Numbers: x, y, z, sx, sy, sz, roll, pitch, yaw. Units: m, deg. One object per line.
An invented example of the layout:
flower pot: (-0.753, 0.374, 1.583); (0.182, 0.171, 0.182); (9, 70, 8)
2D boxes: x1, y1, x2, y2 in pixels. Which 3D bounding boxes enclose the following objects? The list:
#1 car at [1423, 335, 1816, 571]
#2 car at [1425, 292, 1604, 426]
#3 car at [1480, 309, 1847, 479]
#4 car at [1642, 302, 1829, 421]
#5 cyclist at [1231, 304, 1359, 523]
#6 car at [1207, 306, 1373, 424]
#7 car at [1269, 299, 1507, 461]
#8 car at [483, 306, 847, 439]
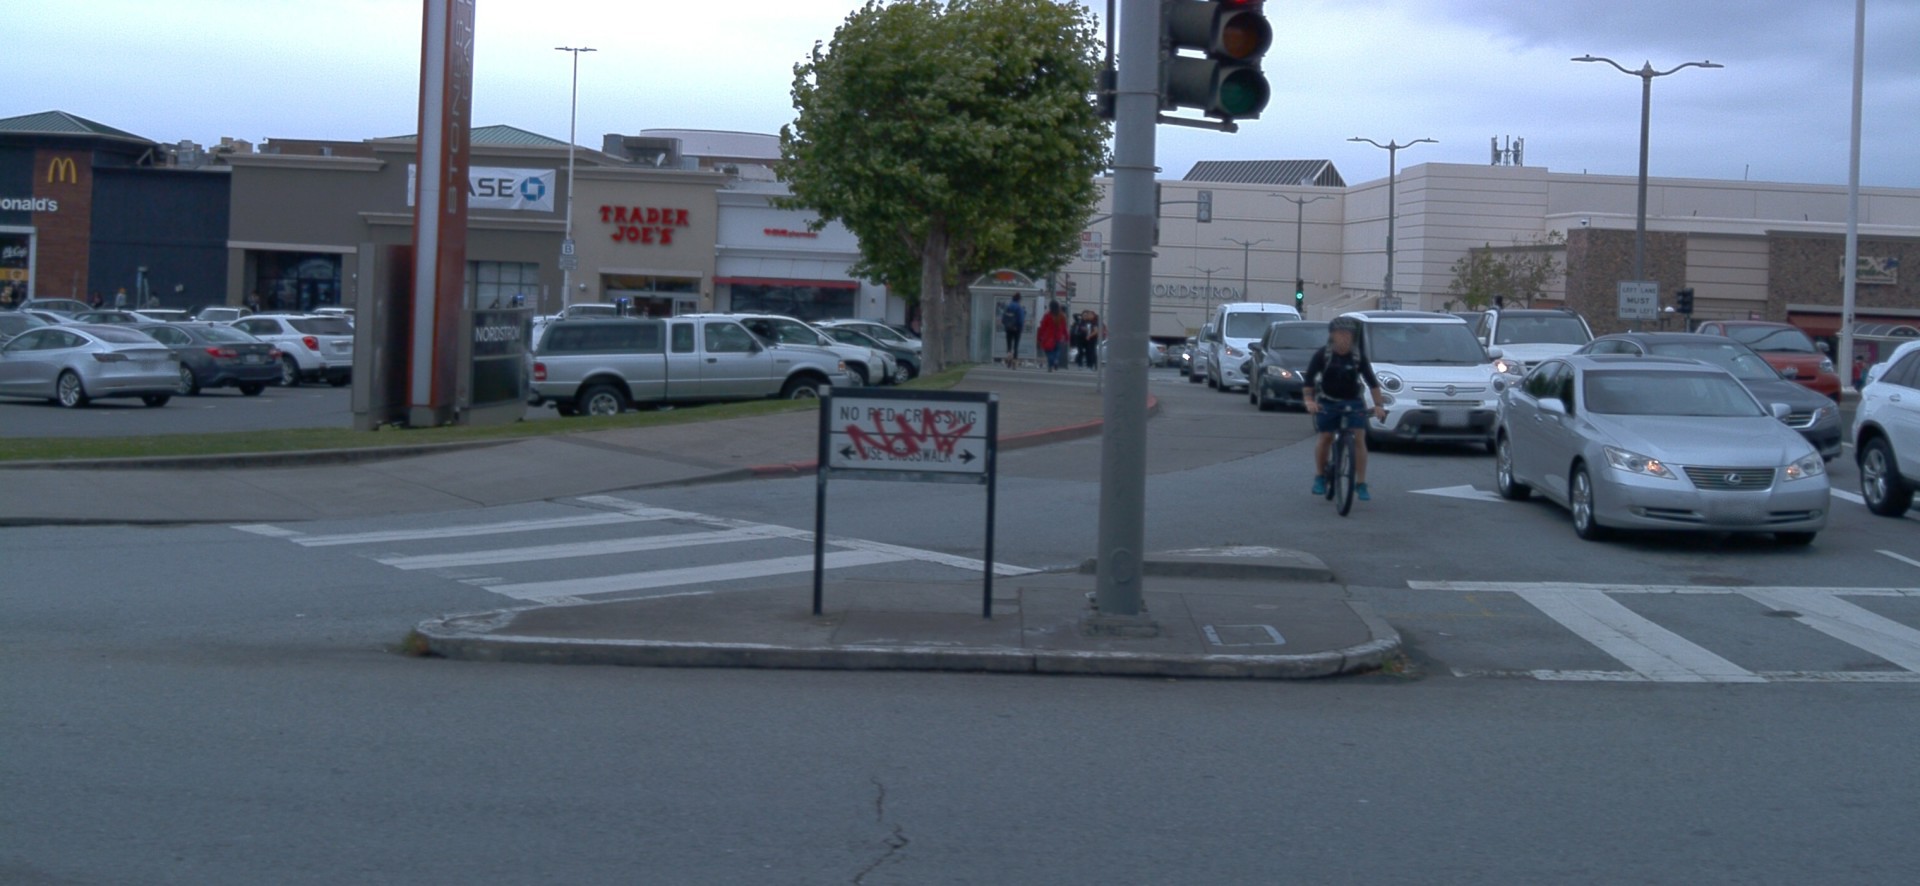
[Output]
car: (5.539, -0.049, 17.980); (2.126, 1.544, 4.821); (0, 5, 3)
car: (8.422, -1.369, 31.592); (2.187, 1.773, 4.597); (1, 5, 9)
car: (8.004, -0.671, 23.970); (2.326, 1.593, 4.773); (0, 5, -5)
car: (12.239, -1.336, 32.612); (1.896, 1.695, 3.093); (0, 4, 2)
cyclist: (2.969, -0.314, 18.385); (0.866, 1.797, 1.899); (0, 3, 1)
car: (5.212, -1.322, 33.005); (2.171, 1.603, 4.707); (0, 5, 3)
car: (5.134, -0.853, 25.240); (2.025, 1.684, 4.169); (0, 5, -1)
car: (-4.616, -1.174, 32.238); (5.283, 1.796, 2.156); (-2, 4, -25)
